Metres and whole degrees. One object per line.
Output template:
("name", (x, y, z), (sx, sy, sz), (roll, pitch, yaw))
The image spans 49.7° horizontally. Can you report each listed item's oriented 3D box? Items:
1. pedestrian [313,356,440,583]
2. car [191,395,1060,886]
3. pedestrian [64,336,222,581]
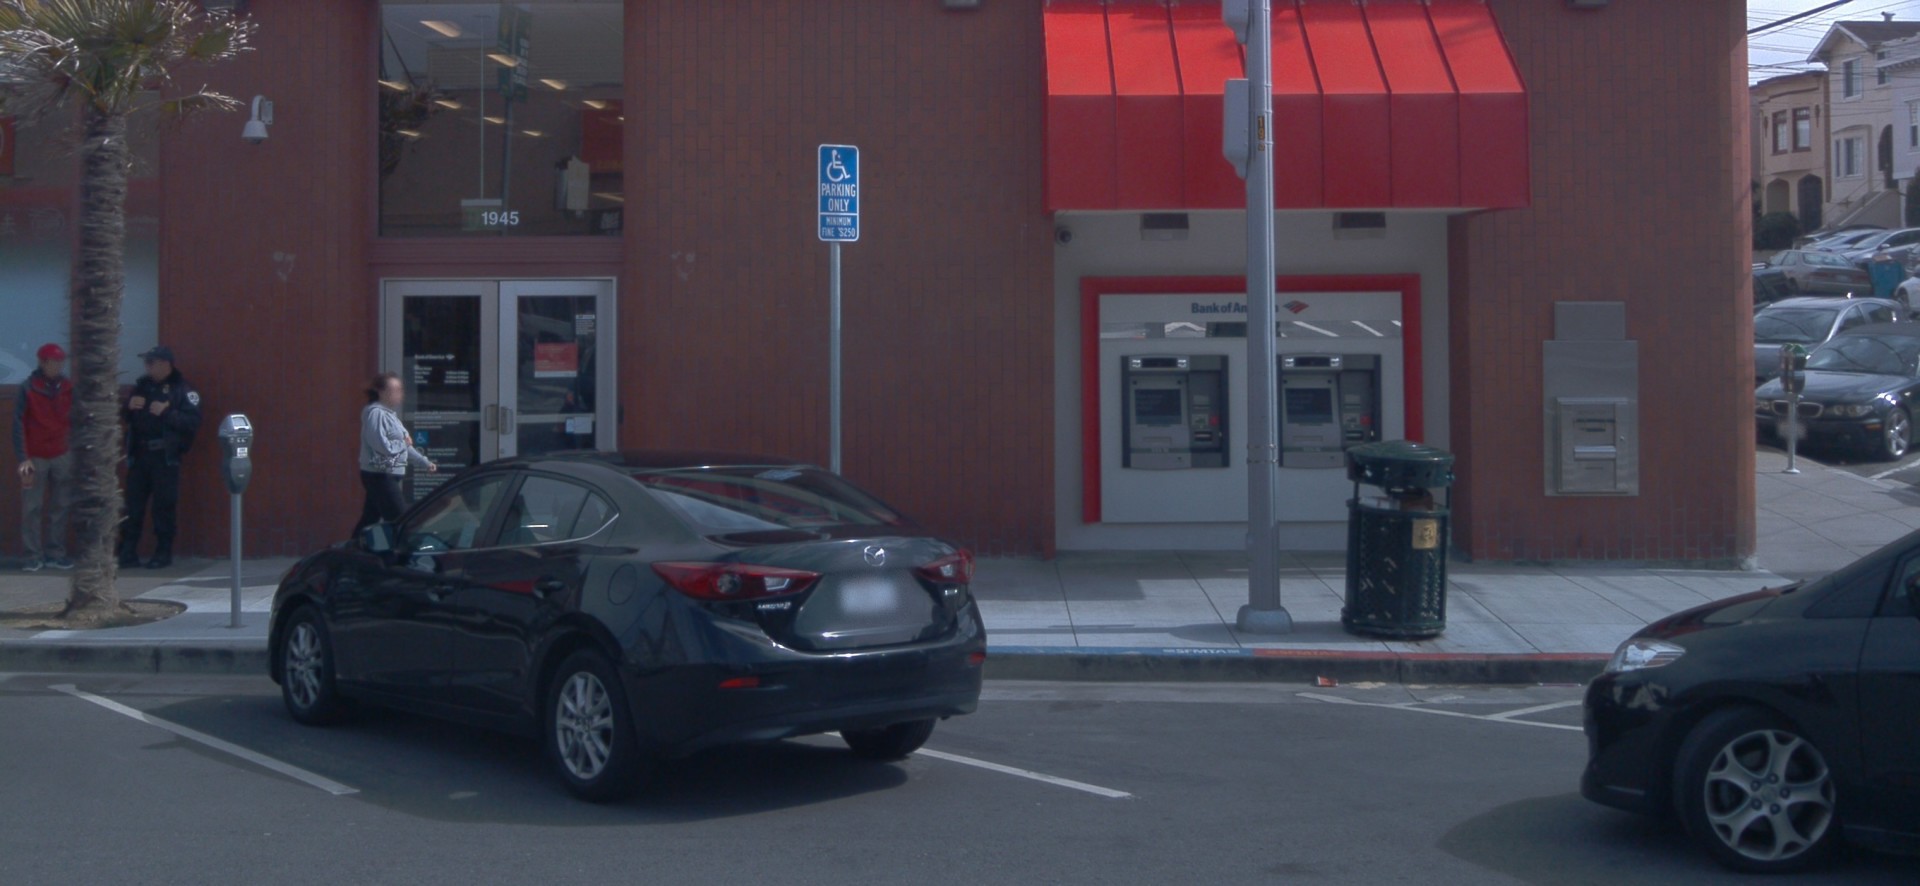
("pedestrian", (-4.167, 0.168, 14.862), (0.754, 1.537, 0.693), (0, 1, -5))
("car", (-1.849, 0.701, 10.165), (2.030, 1.473, 4.587), (-3, 6, -42))
("pedestrian", (-6.145, 0.089, 15.623), (0.862, 1.740, 0.685), (1, 1, 16))
